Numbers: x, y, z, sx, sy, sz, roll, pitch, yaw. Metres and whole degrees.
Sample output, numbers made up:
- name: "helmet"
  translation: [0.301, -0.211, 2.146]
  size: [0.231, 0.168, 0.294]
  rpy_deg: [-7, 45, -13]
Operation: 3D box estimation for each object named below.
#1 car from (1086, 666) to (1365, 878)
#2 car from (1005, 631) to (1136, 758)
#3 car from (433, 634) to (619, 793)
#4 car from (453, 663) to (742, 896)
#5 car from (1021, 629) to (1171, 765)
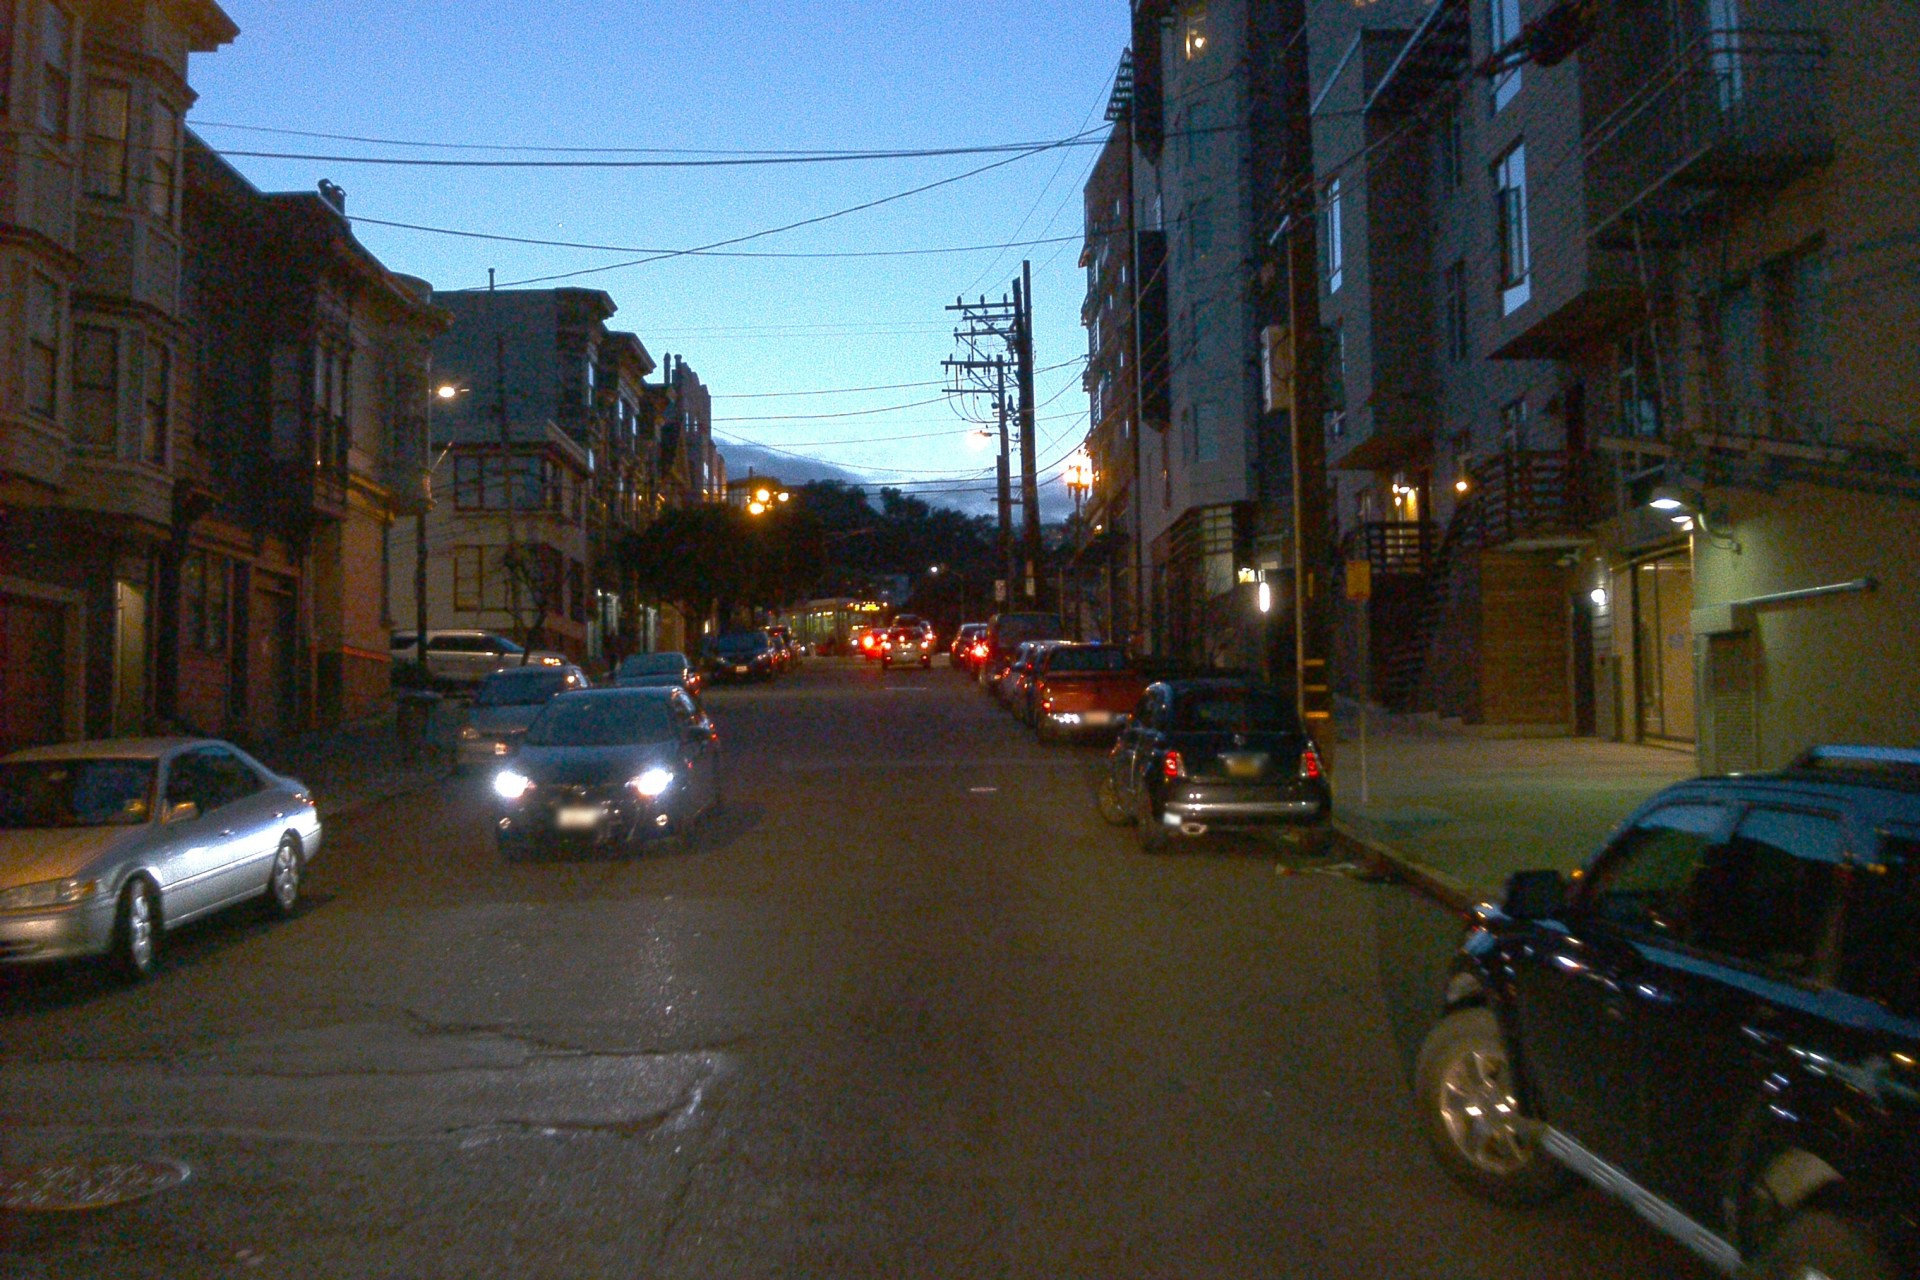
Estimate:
- name: "car"
  translation: [2.338, 1.126, 19.028]
  size: [1.854, 1.660, 3.633]
  rpy_deg: [0, 1, -4]
- name: "car"
  translation: [1.946, 0.930, 37.367]
  size: [2.040, 2.130, 3.990]
  rpy_deg: [0, 1, -2]
- name: "car"
  translation: [-6.244, 0.993, 30.034]
  size: [1.933, 2.100, 4.140]
  rpy_deg: [0, 1, -2]
- name: "car"
  translation: [-3.322, 1.213, 19.798]
  size: [2.034, 1.850, 4.626]
  rpy_deg: [0, 1, -1]
- name: "car"
  translation: [2.073, 0.825, 32.627]
  size: [2.056, 1.920, 4.865]
  rpy_deg: [0, 1, 0]
